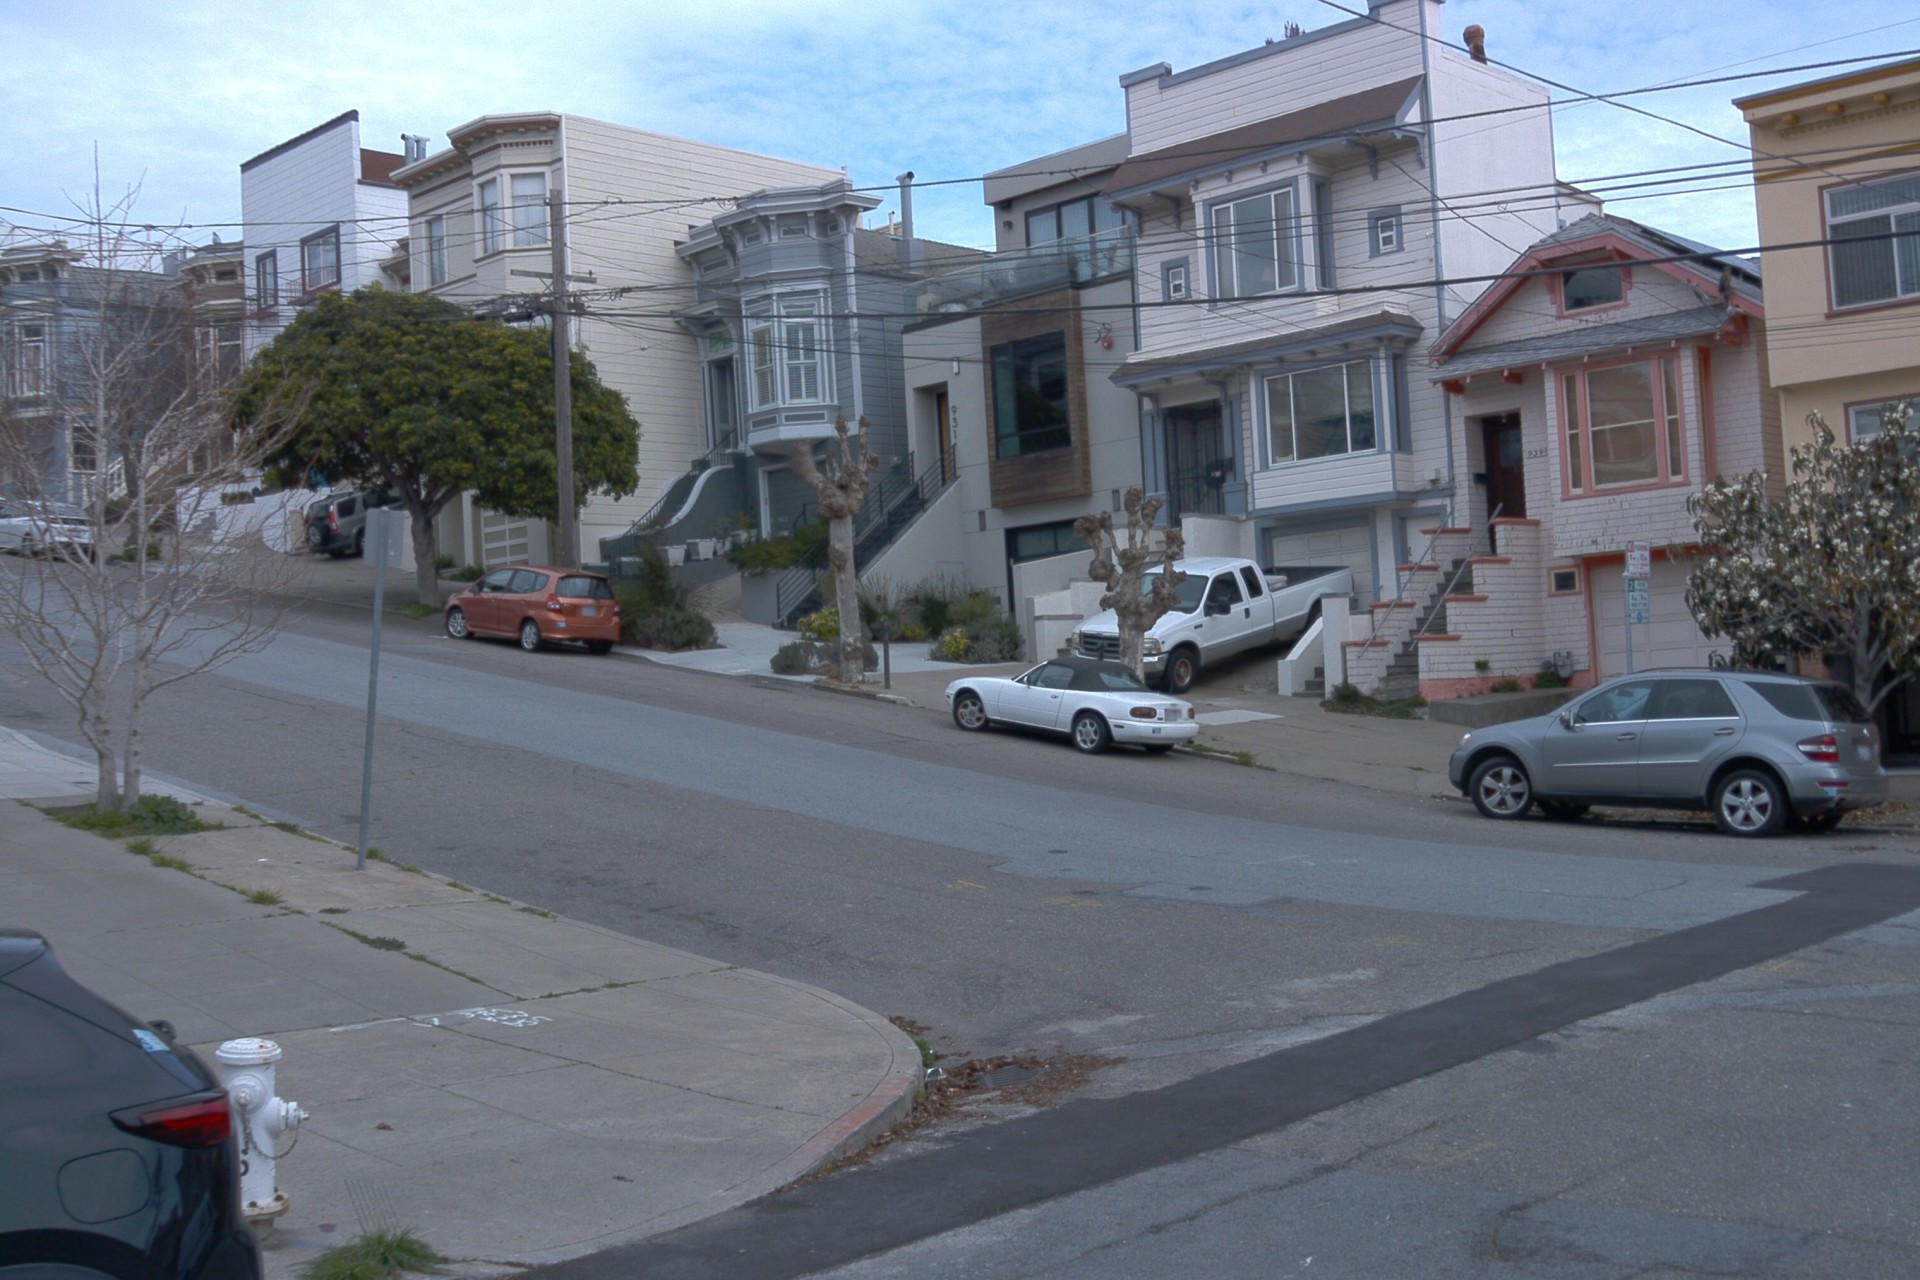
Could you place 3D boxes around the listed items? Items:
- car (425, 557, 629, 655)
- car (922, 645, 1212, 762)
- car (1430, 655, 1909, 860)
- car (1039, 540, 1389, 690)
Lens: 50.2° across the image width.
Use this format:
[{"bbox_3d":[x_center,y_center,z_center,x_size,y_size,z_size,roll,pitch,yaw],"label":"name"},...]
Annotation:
[{"bbox_3d":[-7.955,-0.615,37.456,3.774,1.703,1.781,1,1,43],"label":"car"},{"bbox_3d":[1.441,0.830,28.525,3.800,1.460,1.723,1,1,43],"label":"car"},{"bbox_3d":[7.697,1.176,22.518,4.549,1.930,1.958,1,1,45],"label":"car"},{"bbox_3d":[4.566,-0.432,35.986,6.277,2.400,2.723,0,1,-44],"label":"car"}]
